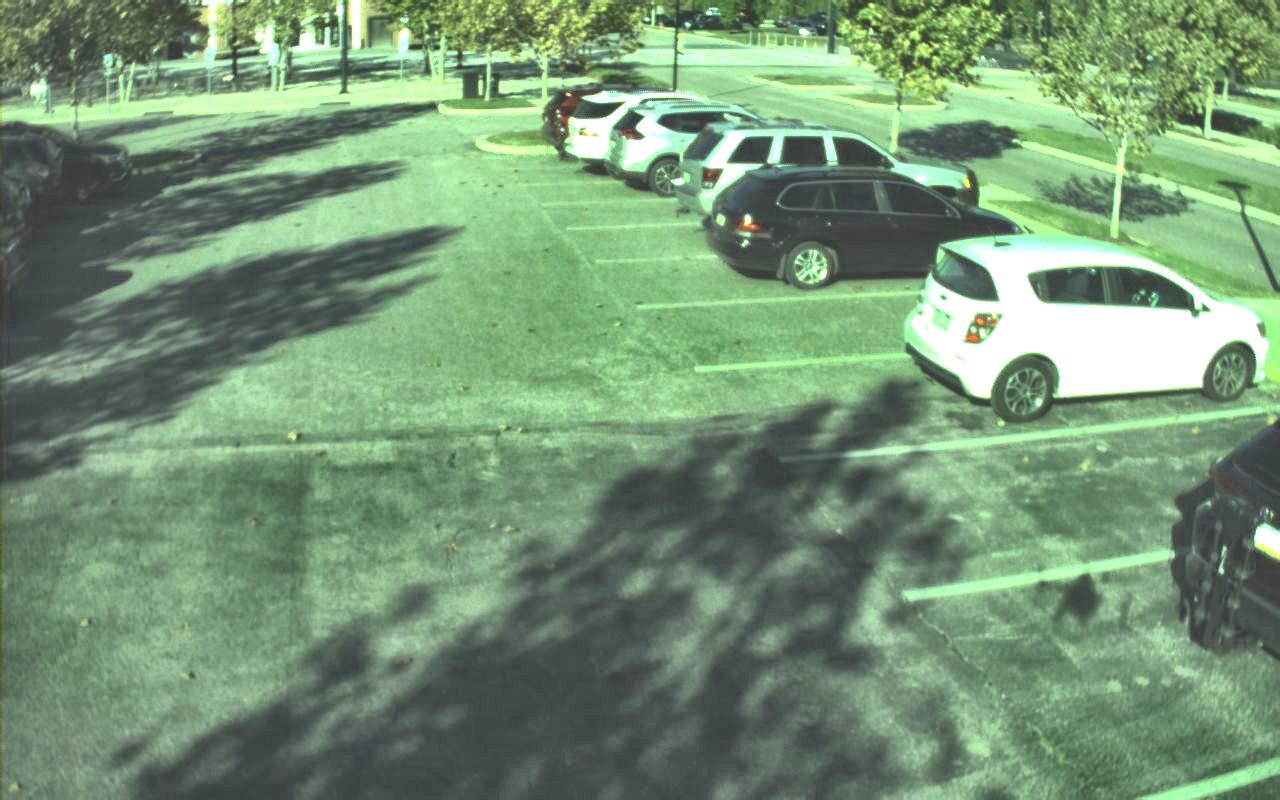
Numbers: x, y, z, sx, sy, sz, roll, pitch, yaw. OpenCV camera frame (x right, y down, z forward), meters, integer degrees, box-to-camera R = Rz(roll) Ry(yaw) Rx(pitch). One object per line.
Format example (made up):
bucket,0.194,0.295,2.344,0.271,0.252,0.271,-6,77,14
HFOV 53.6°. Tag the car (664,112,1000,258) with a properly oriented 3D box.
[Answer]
car,2.950,-3.400,19.094,4.798,1.884,2.065,-5,17,-11

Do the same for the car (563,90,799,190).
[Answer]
car,0.839,-5.528,26.230,4.608,1.817,2.020,-5,17,-13

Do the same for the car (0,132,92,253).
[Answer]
car,-12.818,-3.921,20.918,4.485,1.647,1.988,-4,16,-9

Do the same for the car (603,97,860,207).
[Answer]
car,1.732,-4.821,23.880,4.560,1.804,1.998,-5,17,-12

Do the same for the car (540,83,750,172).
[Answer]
car,0.074,-6.354,28.870,4.509,1.776,2.002,-5,17,-14

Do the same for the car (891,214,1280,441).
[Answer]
car,4.744,-0.853,11.848,4.183,1.631,1.891,-5,17,-12

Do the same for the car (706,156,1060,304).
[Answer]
car,3.278,-2.378,16.686,4.448,1.559,1.928,-5,17,-12

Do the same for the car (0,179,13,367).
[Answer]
car,-9.513,-1.817,14.632,1.969,1.613,4.547,-10,19,-28

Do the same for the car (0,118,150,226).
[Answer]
car,-12.771,-4.813,23.859,4.558,1.648,2.004,-4,17,-10
